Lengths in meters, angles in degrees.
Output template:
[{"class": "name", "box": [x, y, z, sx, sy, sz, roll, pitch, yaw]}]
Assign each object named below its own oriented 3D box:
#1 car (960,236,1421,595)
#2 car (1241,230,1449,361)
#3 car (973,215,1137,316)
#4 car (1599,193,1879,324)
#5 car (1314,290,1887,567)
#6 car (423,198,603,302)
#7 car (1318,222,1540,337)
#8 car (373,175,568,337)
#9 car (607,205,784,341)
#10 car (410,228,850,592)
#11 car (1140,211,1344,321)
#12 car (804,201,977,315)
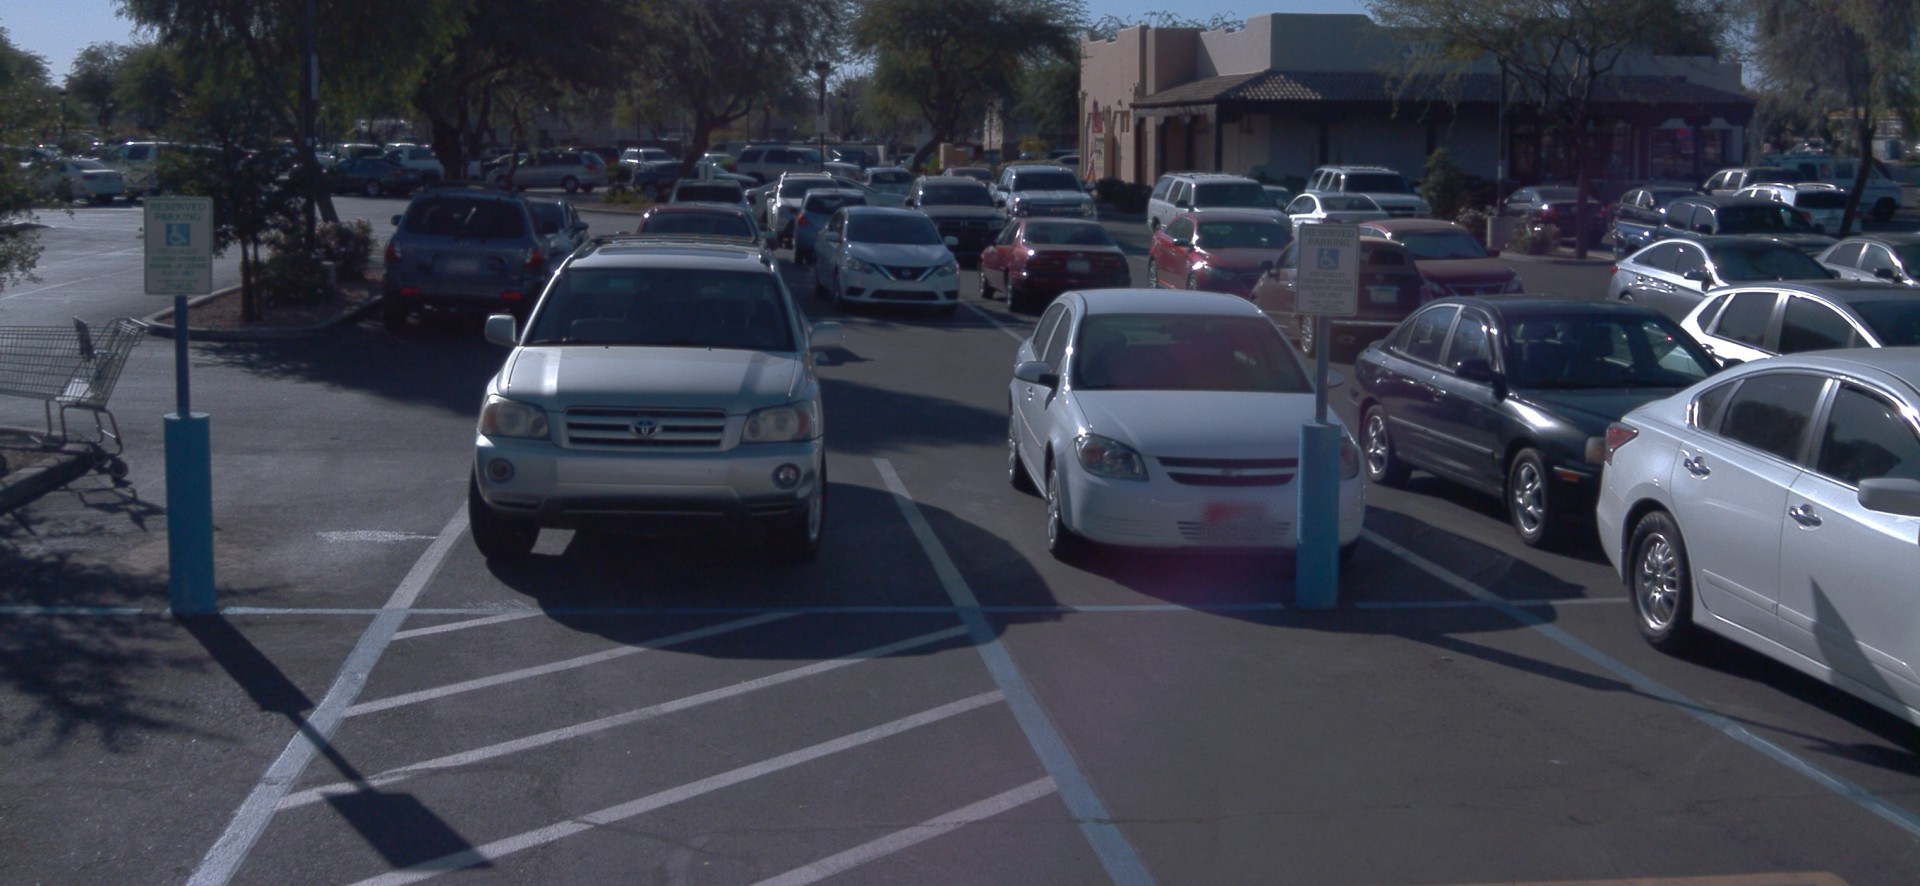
[{"class": "car", "box": [1.204, -0.368, 12.998, 1.995, 1.802, 4.582, 0, 5, -5]}, {"class": "car", "box": [4.886, -1.965, 26.820, 1.732, 1.533, 3.839, 0, 5, -4]}, {"class": "car", "box": [1.390, -2.787, 32.068, 1.908, 1.433, 4.255, 0, 6, -6]}, {"class": "car", "box": [12.229, -2.984, 33.026, 2.089, 1.901, 5.334, 0, 5, -5]}, {"class": "car", "box": [3.929, -0.249, 13.685, 2.007, 1.353, 4.562, 0, 6, -6]}, {"class": "car", "box": [-6.504, -2.881, 30.641, 2.076, 1.393, 4.497, 0, 6, -6]}, {"class": "car", "box": [6.990, -2.540, 31.429, 2.013, 1.593, 4.467, 0, 5, -5]}, {"class": "car", "box": [-5.892, -2.304, 25.226, 2.104, 1.772, 4.423, 0, 5, -12]}, {"class": "car", "box": [-3.255, -2.141, 25.567, 1.983, 1.523, 4.060, 0, 5, -8]}, {"class": "car", "box": [-1.850, -0.403, 12.738, 2.169, 1.782, 4.709, 0, 5, -5]}, {"class": "car", "box": [4.266, -2.795, 32.191, 2.089, 1.563, 4.906, 0, 6, -5]}, {"class": "car", "box": [-1.133, -2.833, 31.377, 2.015, 1.583, 4.463, 0, 6, -10]}]
